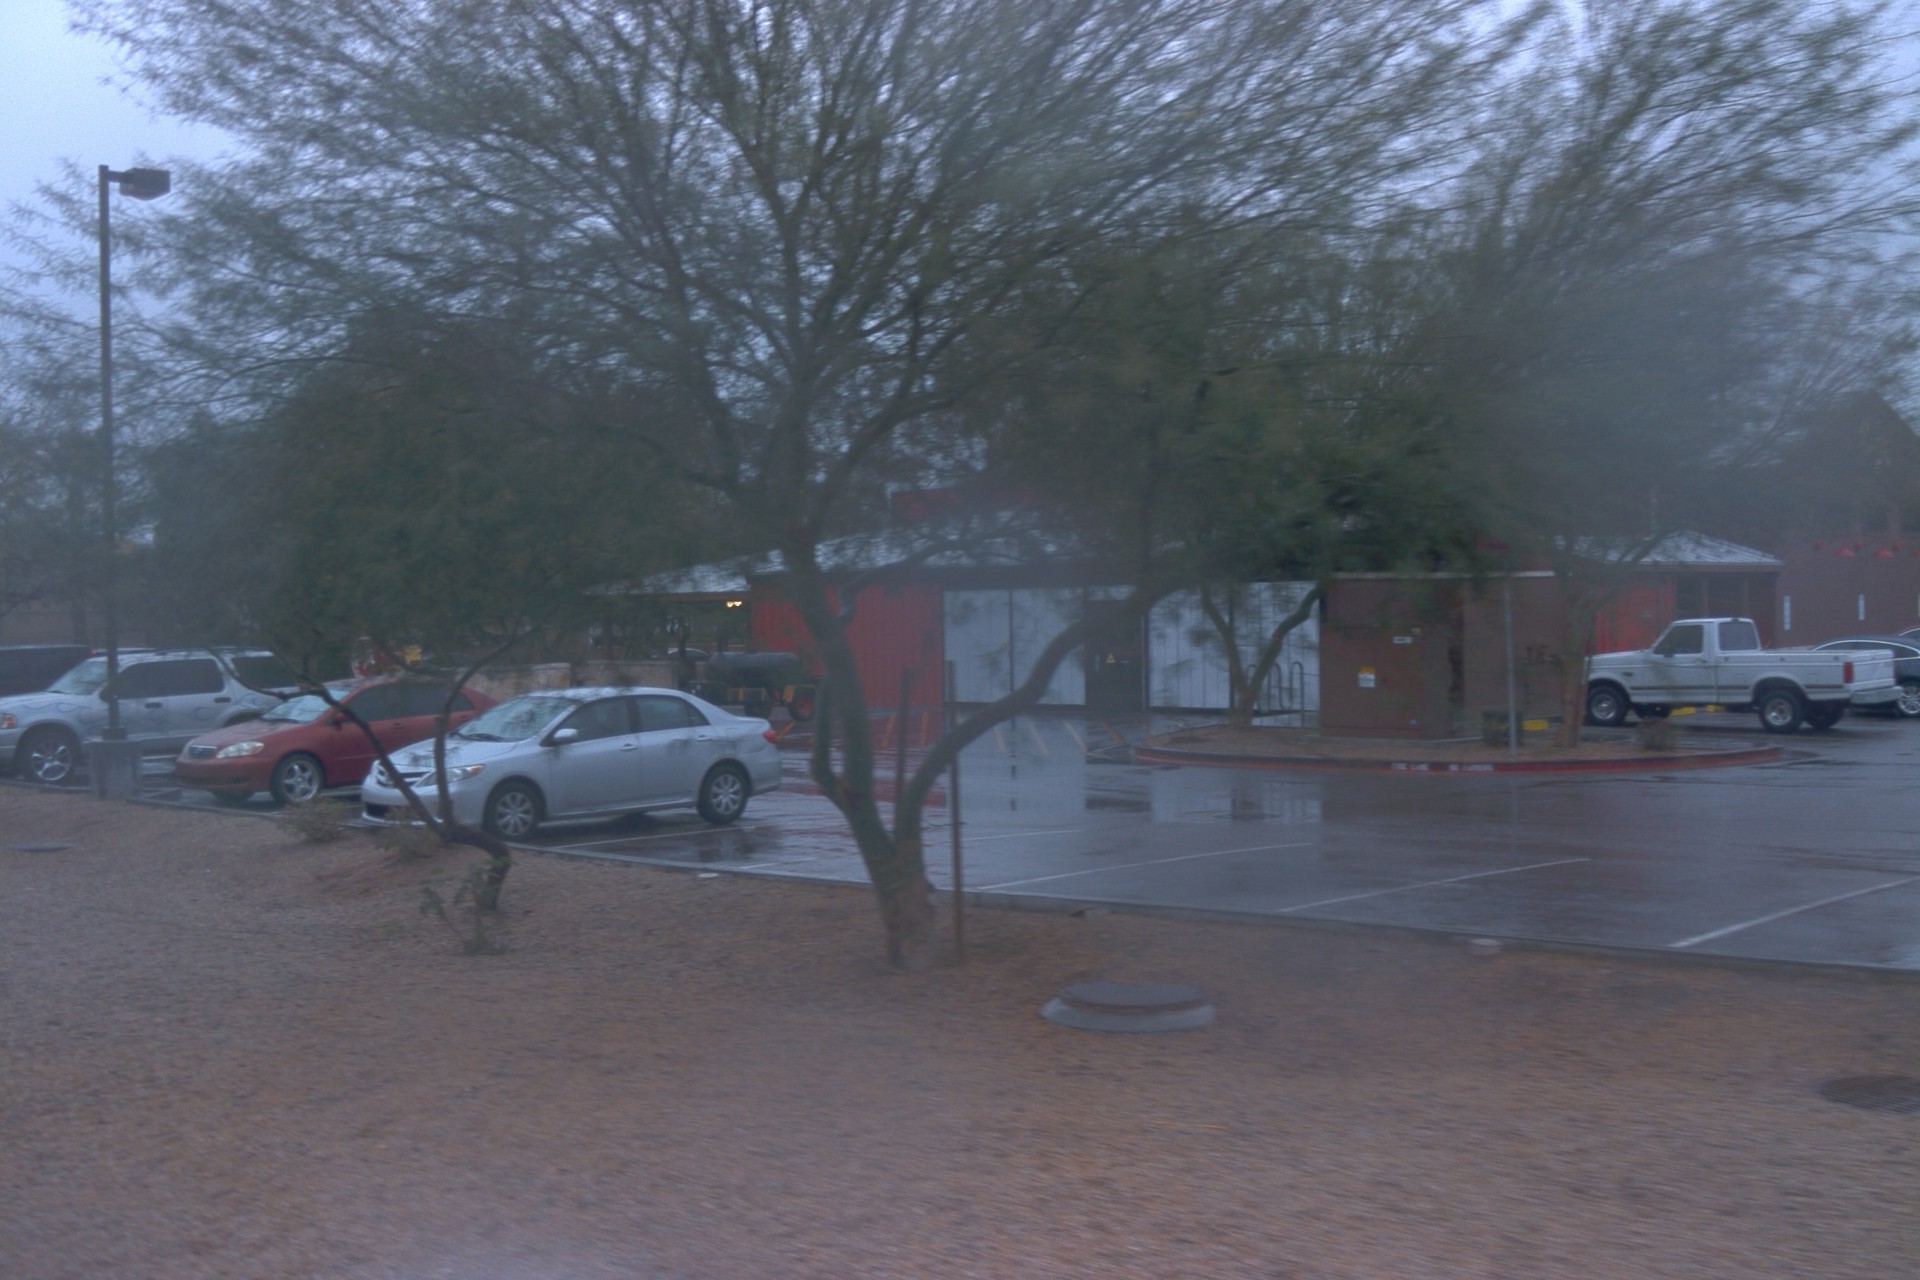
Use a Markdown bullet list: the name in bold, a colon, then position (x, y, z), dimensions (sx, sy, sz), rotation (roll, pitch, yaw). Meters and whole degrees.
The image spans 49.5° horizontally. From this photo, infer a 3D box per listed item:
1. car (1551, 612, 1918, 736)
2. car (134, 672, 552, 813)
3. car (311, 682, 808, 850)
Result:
- **car**: position (12.627, 0.544, 34.211), dimensions (5.242, 1.890, 2.096), rotation (0, -1, 44)
- **car**: position (-7.502, 1.177, 25.627), dimensions (2.049, 1.560, 4.510), rotation (0, -1, 44)
- **car**: position (-4.020, 1.205, 21.469), dimensions (4.649, 1.490, 2.083), rotation (1, -1, -45)
